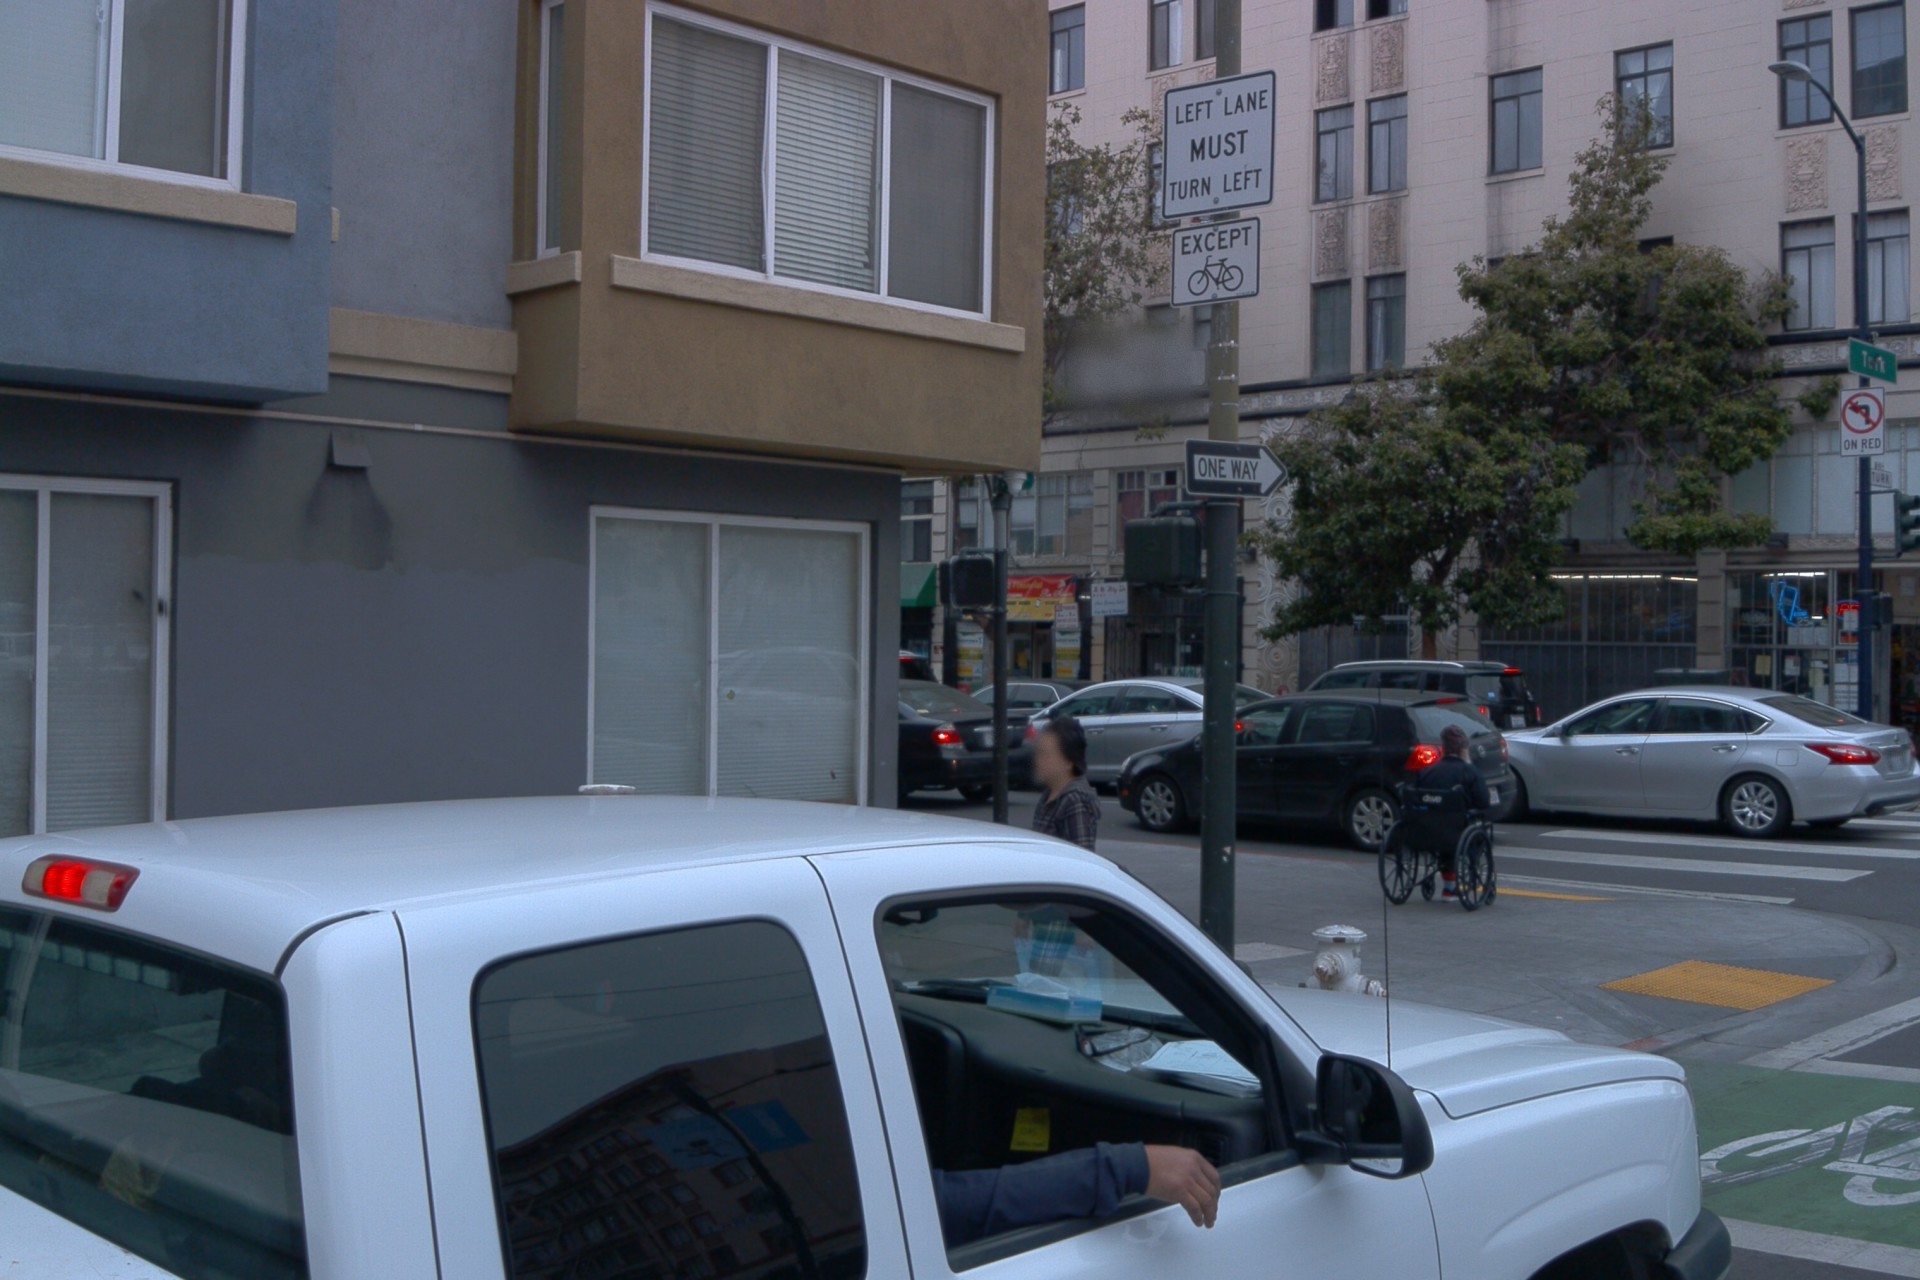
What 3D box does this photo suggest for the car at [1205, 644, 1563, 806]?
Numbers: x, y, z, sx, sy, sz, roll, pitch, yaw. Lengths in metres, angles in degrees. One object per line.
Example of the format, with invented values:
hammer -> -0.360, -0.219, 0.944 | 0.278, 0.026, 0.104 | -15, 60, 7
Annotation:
car -> 5.494, 1.033, 27.102 | 1.925, 1.870, 4.231 | -1, 1, -45

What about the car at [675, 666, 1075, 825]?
car -> -1.115, 1.192, 25.064 | 4.803, 1.600, 2.070 | 1, 1, 43

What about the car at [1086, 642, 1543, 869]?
car -> 3.442, 1.038, 20.598 | 1.871, 1.950, 4.194 | -1, 1, -44

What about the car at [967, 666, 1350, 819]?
car -> 2.397, 1.201, 25.842 | 1.939, 1.600, 4.599 | -1, 1, -44

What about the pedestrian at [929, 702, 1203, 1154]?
pedestrian -> 0.421, 1.168, 8.742 | 1.095, 1.760, 0.986 | 0, 1, -1

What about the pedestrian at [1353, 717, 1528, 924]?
pedestrian -> 3.503, 1.281, 15.016 | 0.883, 1.370, 1.026 | 1, 1, 38
